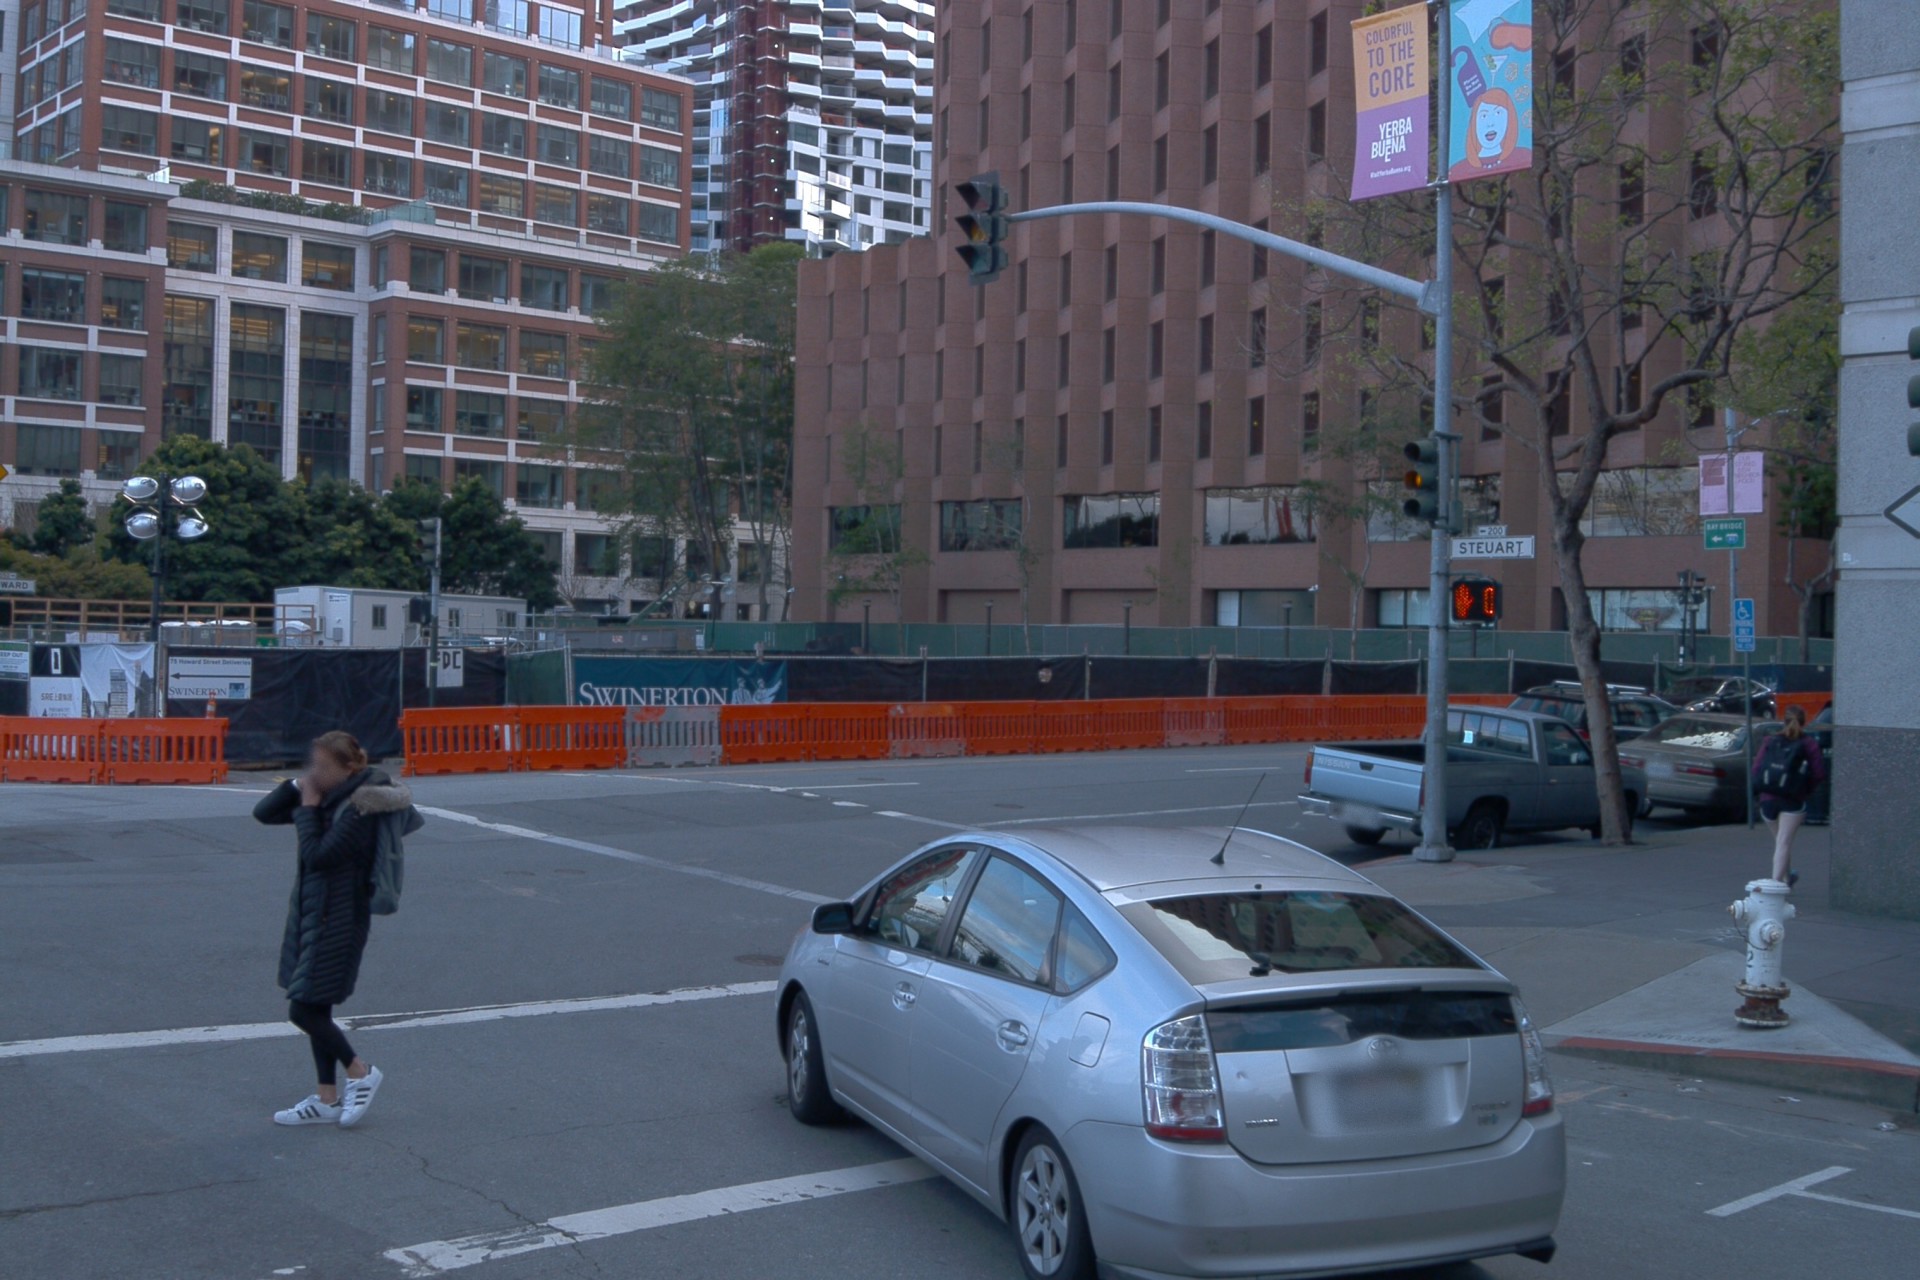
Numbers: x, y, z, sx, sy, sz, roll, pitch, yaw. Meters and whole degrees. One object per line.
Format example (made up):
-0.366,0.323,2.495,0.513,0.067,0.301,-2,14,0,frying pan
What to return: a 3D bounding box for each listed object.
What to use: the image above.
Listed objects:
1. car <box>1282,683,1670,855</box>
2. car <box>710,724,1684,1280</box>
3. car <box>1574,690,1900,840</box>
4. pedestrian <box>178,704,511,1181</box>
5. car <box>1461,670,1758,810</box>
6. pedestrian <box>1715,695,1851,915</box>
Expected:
5.760,1.323,22.508,4.672,1.610,1.863,0,0,-42,car
0.550,1.357,8.218,2.019,1.820,4.419,0,0,-22,car
10.175,1.541,26.634,4.581,1.660,2.108,0,0,-42,car
-2.585,1.196,8.614,1.088,1.810,0.806,0,1,-43,pedestrian
9.168,1.327,28.732,4.208,1.760,2.035,0,0,-40,car
6.532,1.277,16.229,0.720,1.650,0.898,1,1,42,pedestrian
